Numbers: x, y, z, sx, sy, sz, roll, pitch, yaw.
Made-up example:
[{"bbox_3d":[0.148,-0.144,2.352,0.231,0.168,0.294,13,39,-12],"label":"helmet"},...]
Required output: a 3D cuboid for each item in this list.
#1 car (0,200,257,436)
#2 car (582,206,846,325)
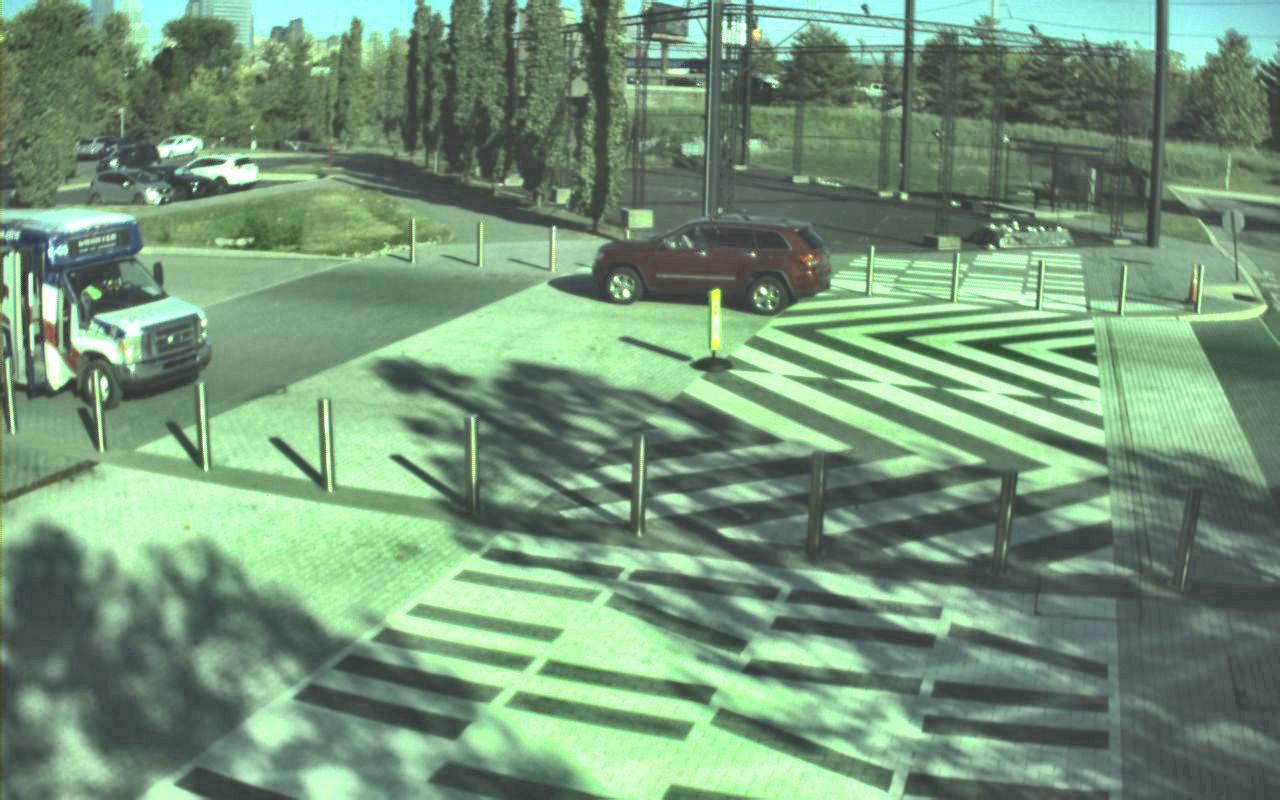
[{"bbox_3d":[-9.095,-1.460,17.963,5.968,2.851,2.545,5,17,21],"label":"car"},{"bbox_3d":[1.498,-2.739,24.930,4.814,1.776,2.048,5,17,20],"label":"car"}]
